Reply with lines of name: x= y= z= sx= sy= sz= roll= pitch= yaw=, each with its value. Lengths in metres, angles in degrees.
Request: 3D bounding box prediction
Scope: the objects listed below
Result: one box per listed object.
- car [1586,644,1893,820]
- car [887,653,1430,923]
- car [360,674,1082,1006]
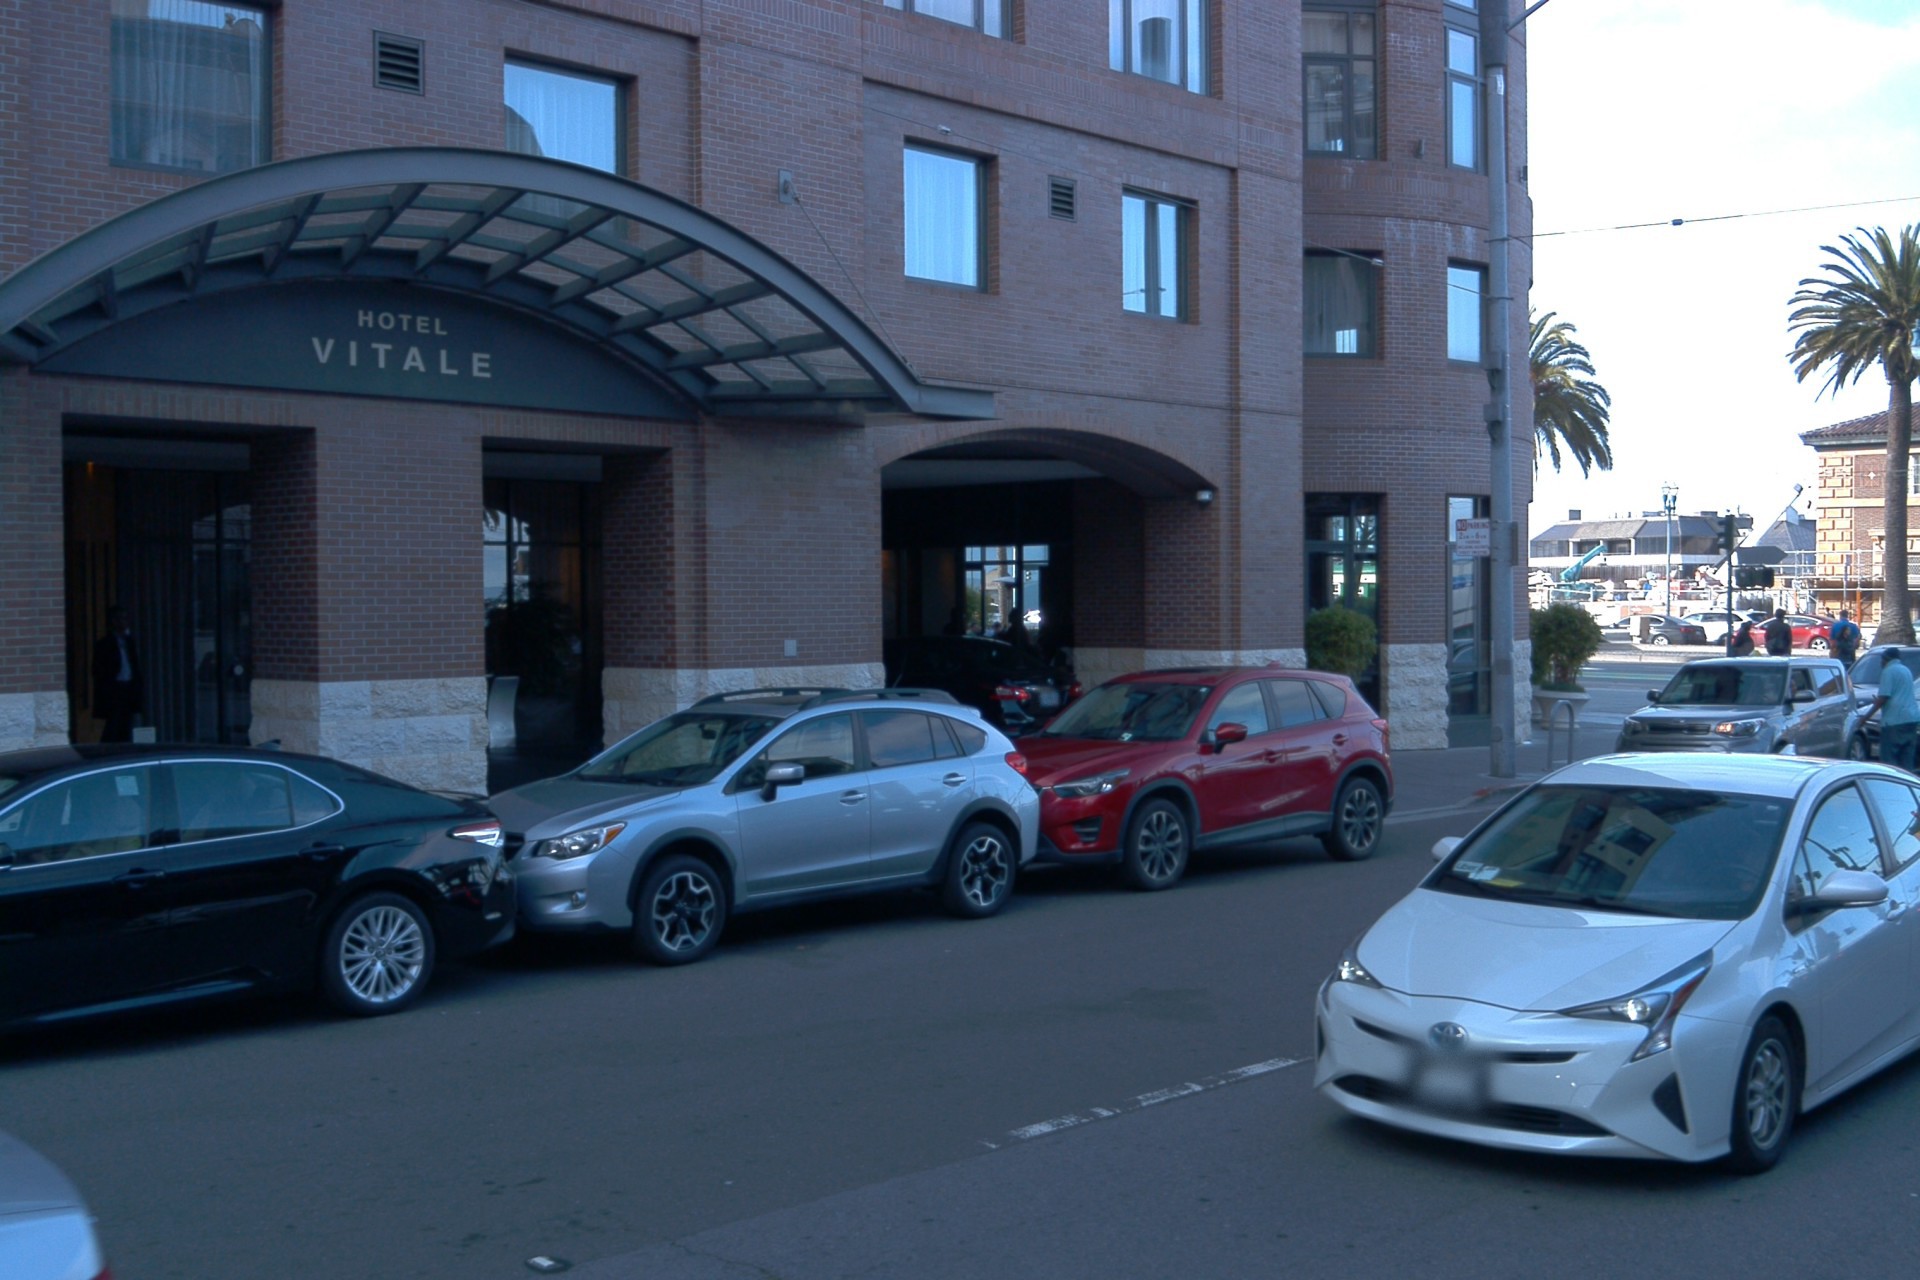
car: x=9.112 y=0.974 z=23.950 sx=2.002 sy=1.787 sz=4.174 roll=1 pitch=1 yaw=41
car: x=1.754 y=1.071 z=17.051 sx=2.120 sy=1.830 sz=4.483 roll=1 pitch=1 yaw=44
car: x=-1.430 y=1.144 z=13.715 sx=2.045 sy=1.693 sz=4.467 roll=1 pitch=1 yaw=44
